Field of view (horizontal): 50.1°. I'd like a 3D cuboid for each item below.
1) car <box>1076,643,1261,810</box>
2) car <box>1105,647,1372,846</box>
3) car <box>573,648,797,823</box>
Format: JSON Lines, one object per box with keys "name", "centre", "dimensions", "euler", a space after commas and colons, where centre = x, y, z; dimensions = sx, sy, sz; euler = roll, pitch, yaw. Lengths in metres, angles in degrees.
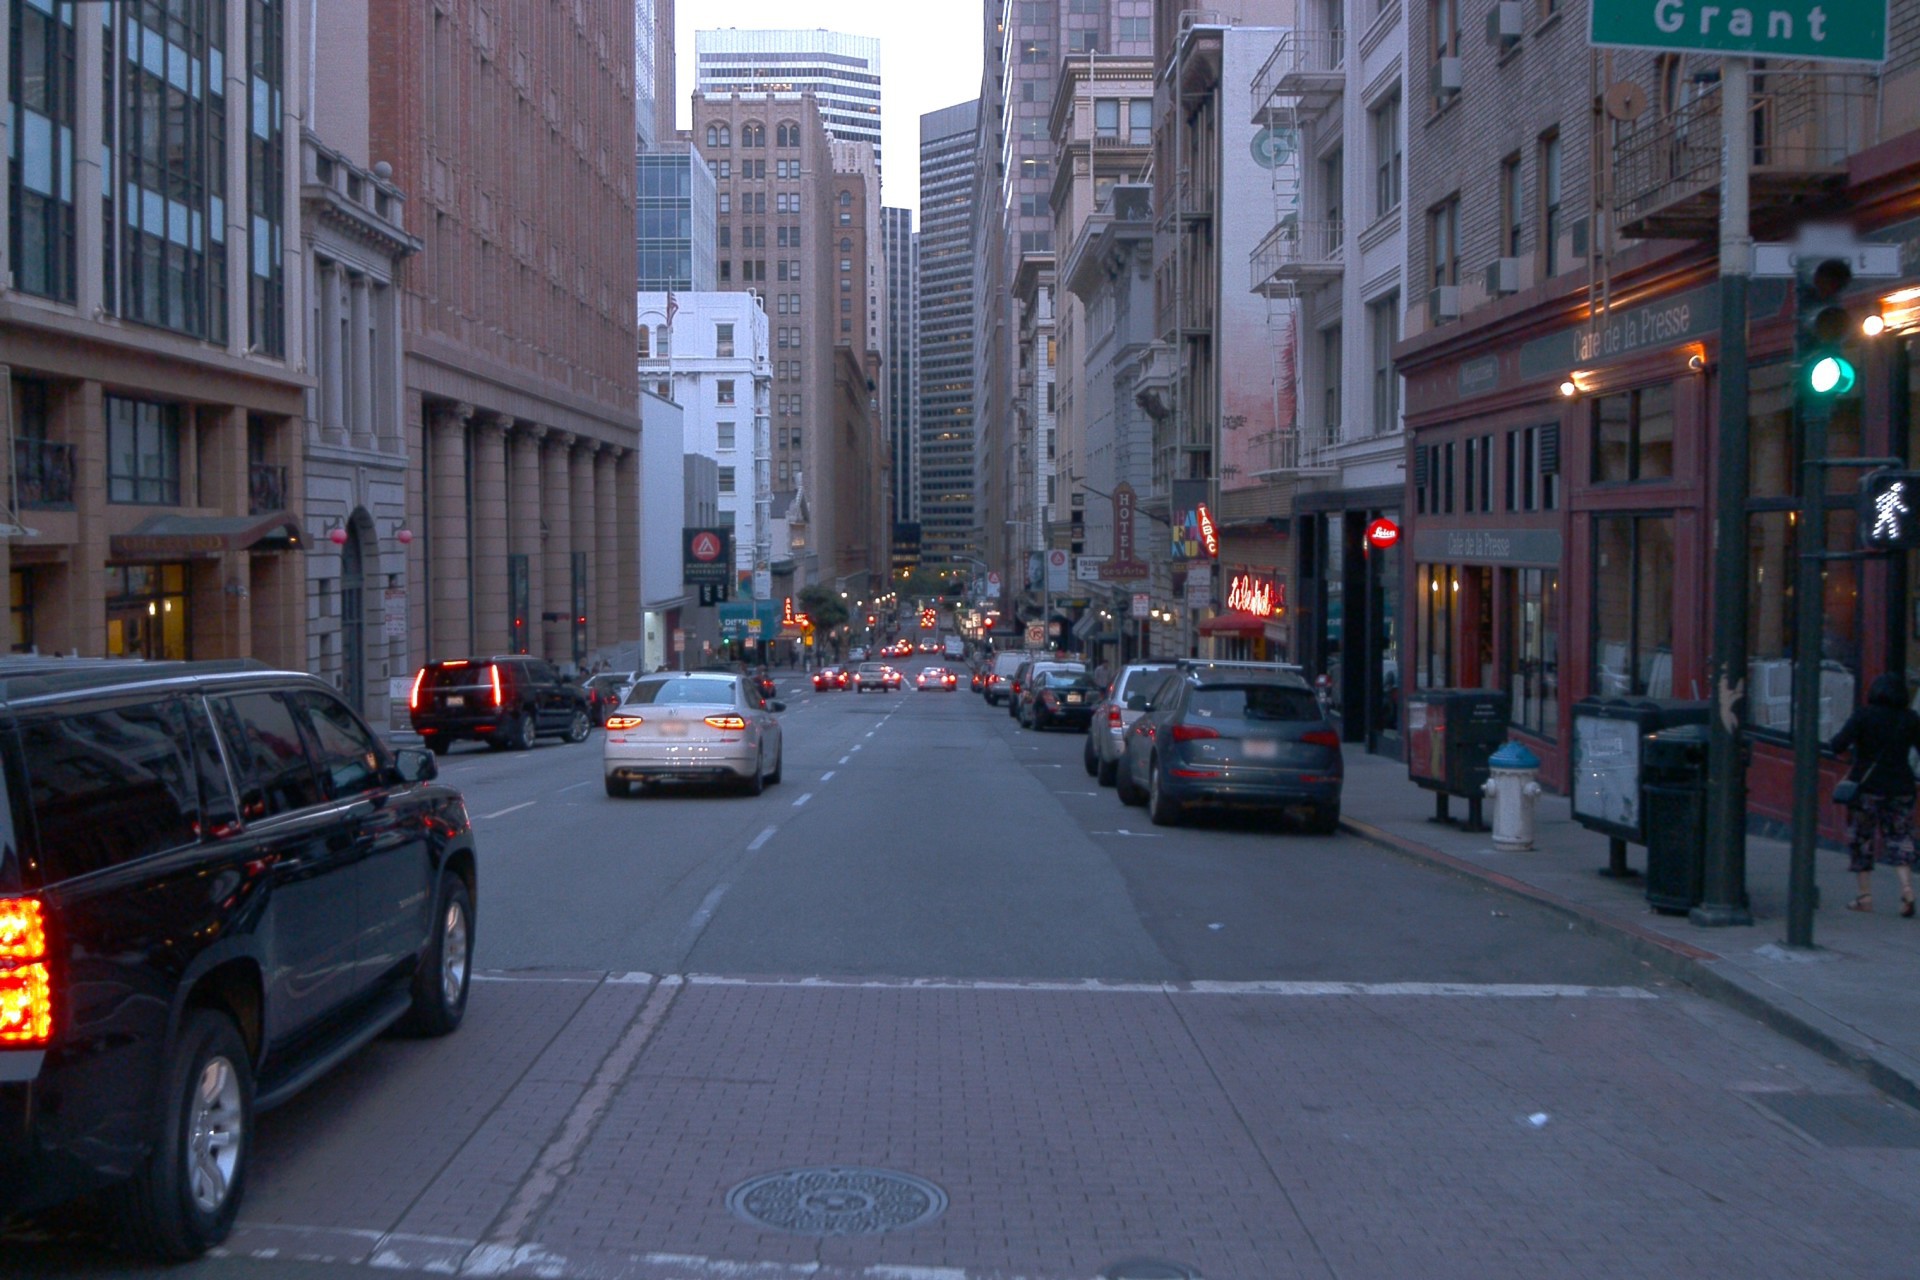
{"name": "car", "centre": [2.839, 1.124, 28.942], "dimensions": [2.112, 2.100, 4.445], "euler": [0, 1, 0]}
{"name": "car", "centre": [2.884, 1.048, 22.435], "dimensions": [2.215, 1.850, 4.835], "euler": [0, 1, 0]}
{"name": "car", "centre": [-3.223, 1.065, 25.062], "dimensions": [2.119, 1.850, 4.734], "euler": [0, 1, 0]}
